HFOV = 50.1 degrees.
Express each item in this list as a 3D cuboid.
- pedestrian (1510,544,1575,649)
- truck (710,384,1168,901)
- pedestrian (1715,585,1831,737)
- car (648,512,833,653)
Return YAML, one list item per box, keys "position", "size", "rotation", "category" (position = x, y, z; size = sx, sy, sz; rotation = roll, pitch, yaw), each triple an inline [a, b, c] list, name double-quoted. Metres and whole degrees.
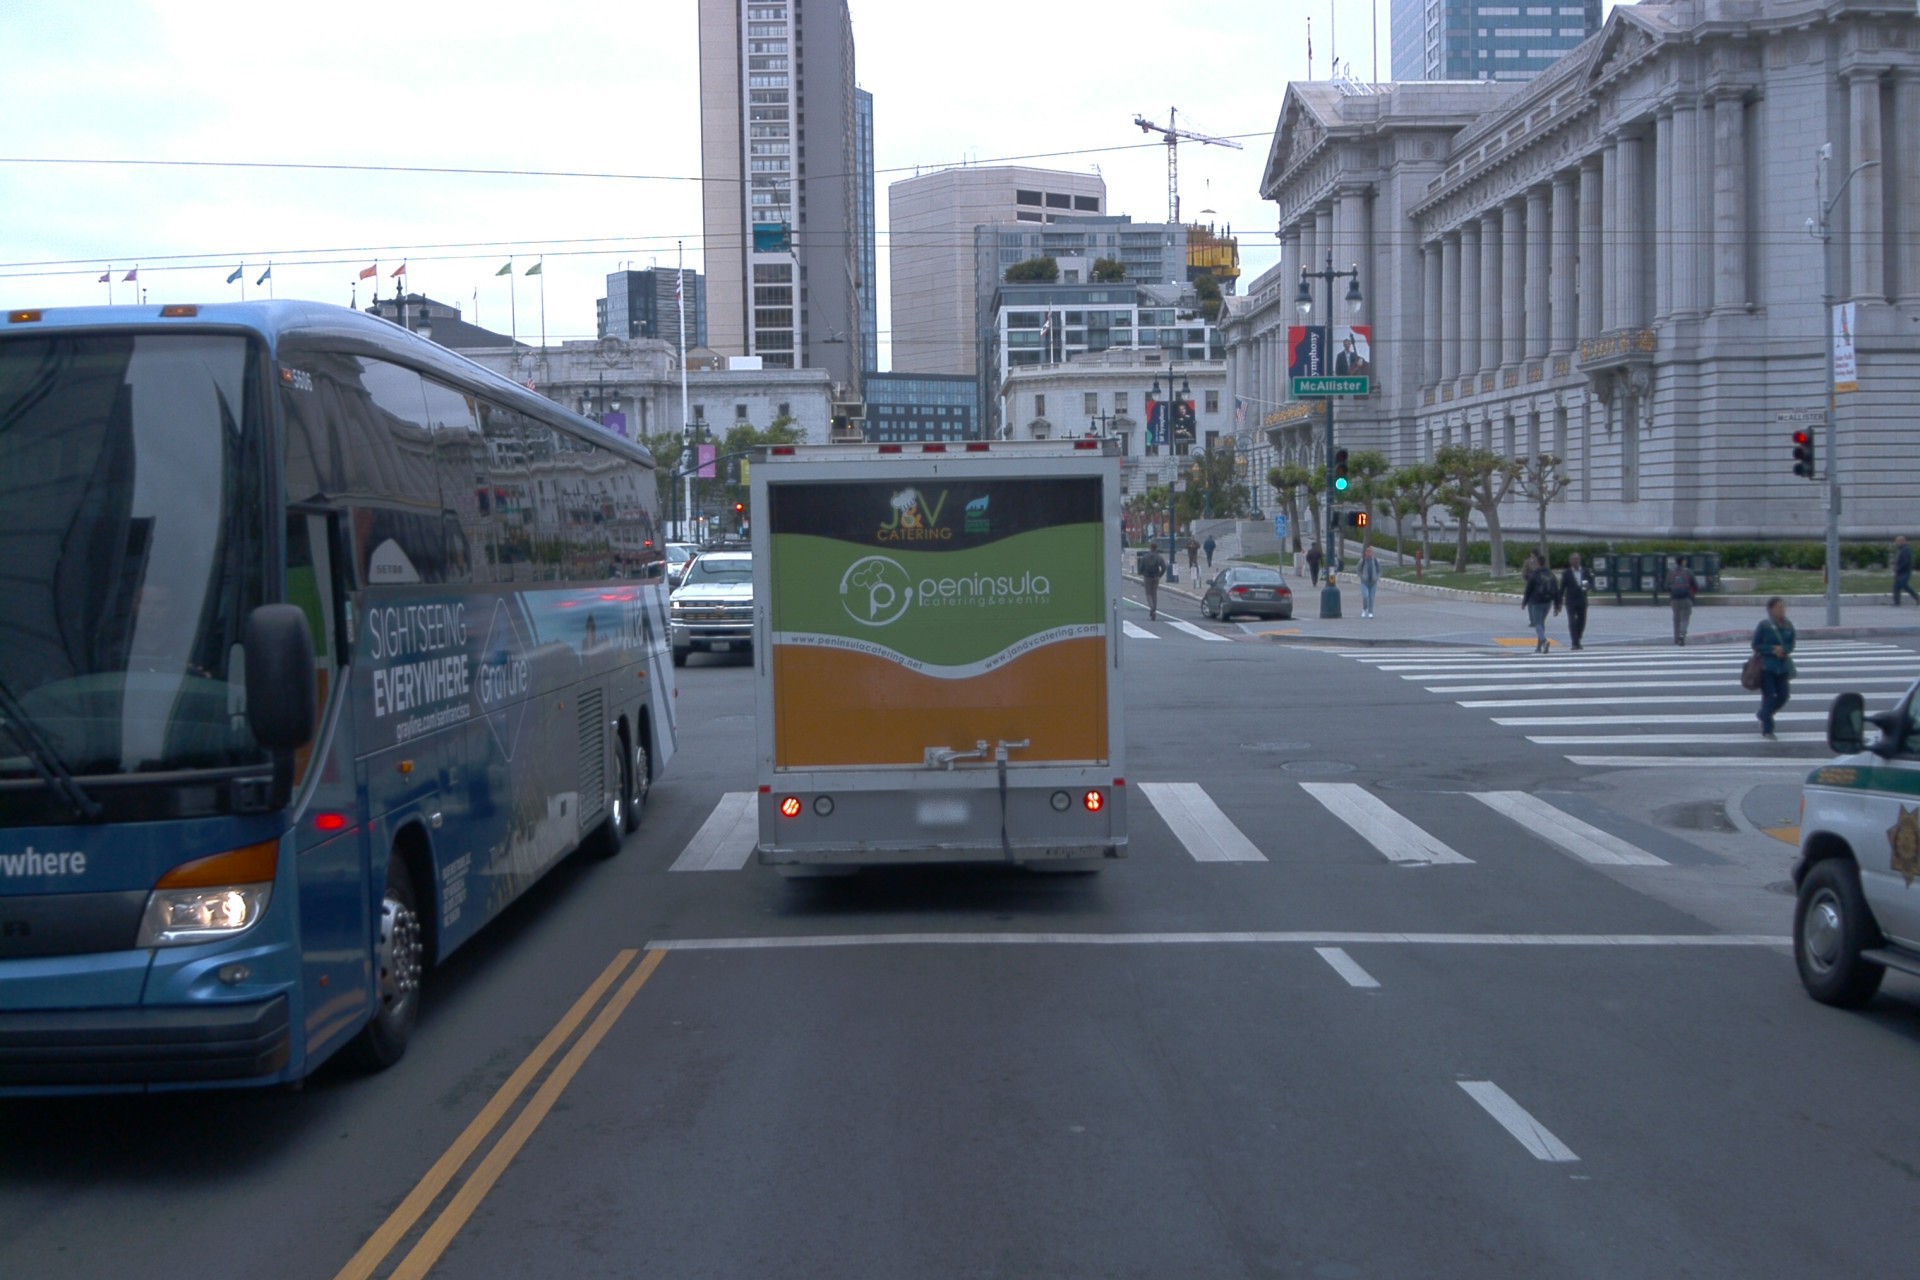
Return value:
- position: [9.863, -0.734, 34.843]
  size: [0.831, 1.760, 0.934]
  rotation: [0, 1, 1]
  category: "pedestrian"
- position: [-0.220, -0.041, 16.816]
  size: [2.917, 3.300, 7.285]
  rotation: [0, 1, -1]
  category: "truck"
- position: [9.225, 0.227, 23.373]
  size: [0.866, 1.690, 1.000]
  rotation: [0, 1, -5]
  category: "pedestrian"
- position: [-3.851, -1.010, 37.234]
  size: [2.435, 2.339, 5.912]
  rotation: [0, 1, 3]
  category: "car"
